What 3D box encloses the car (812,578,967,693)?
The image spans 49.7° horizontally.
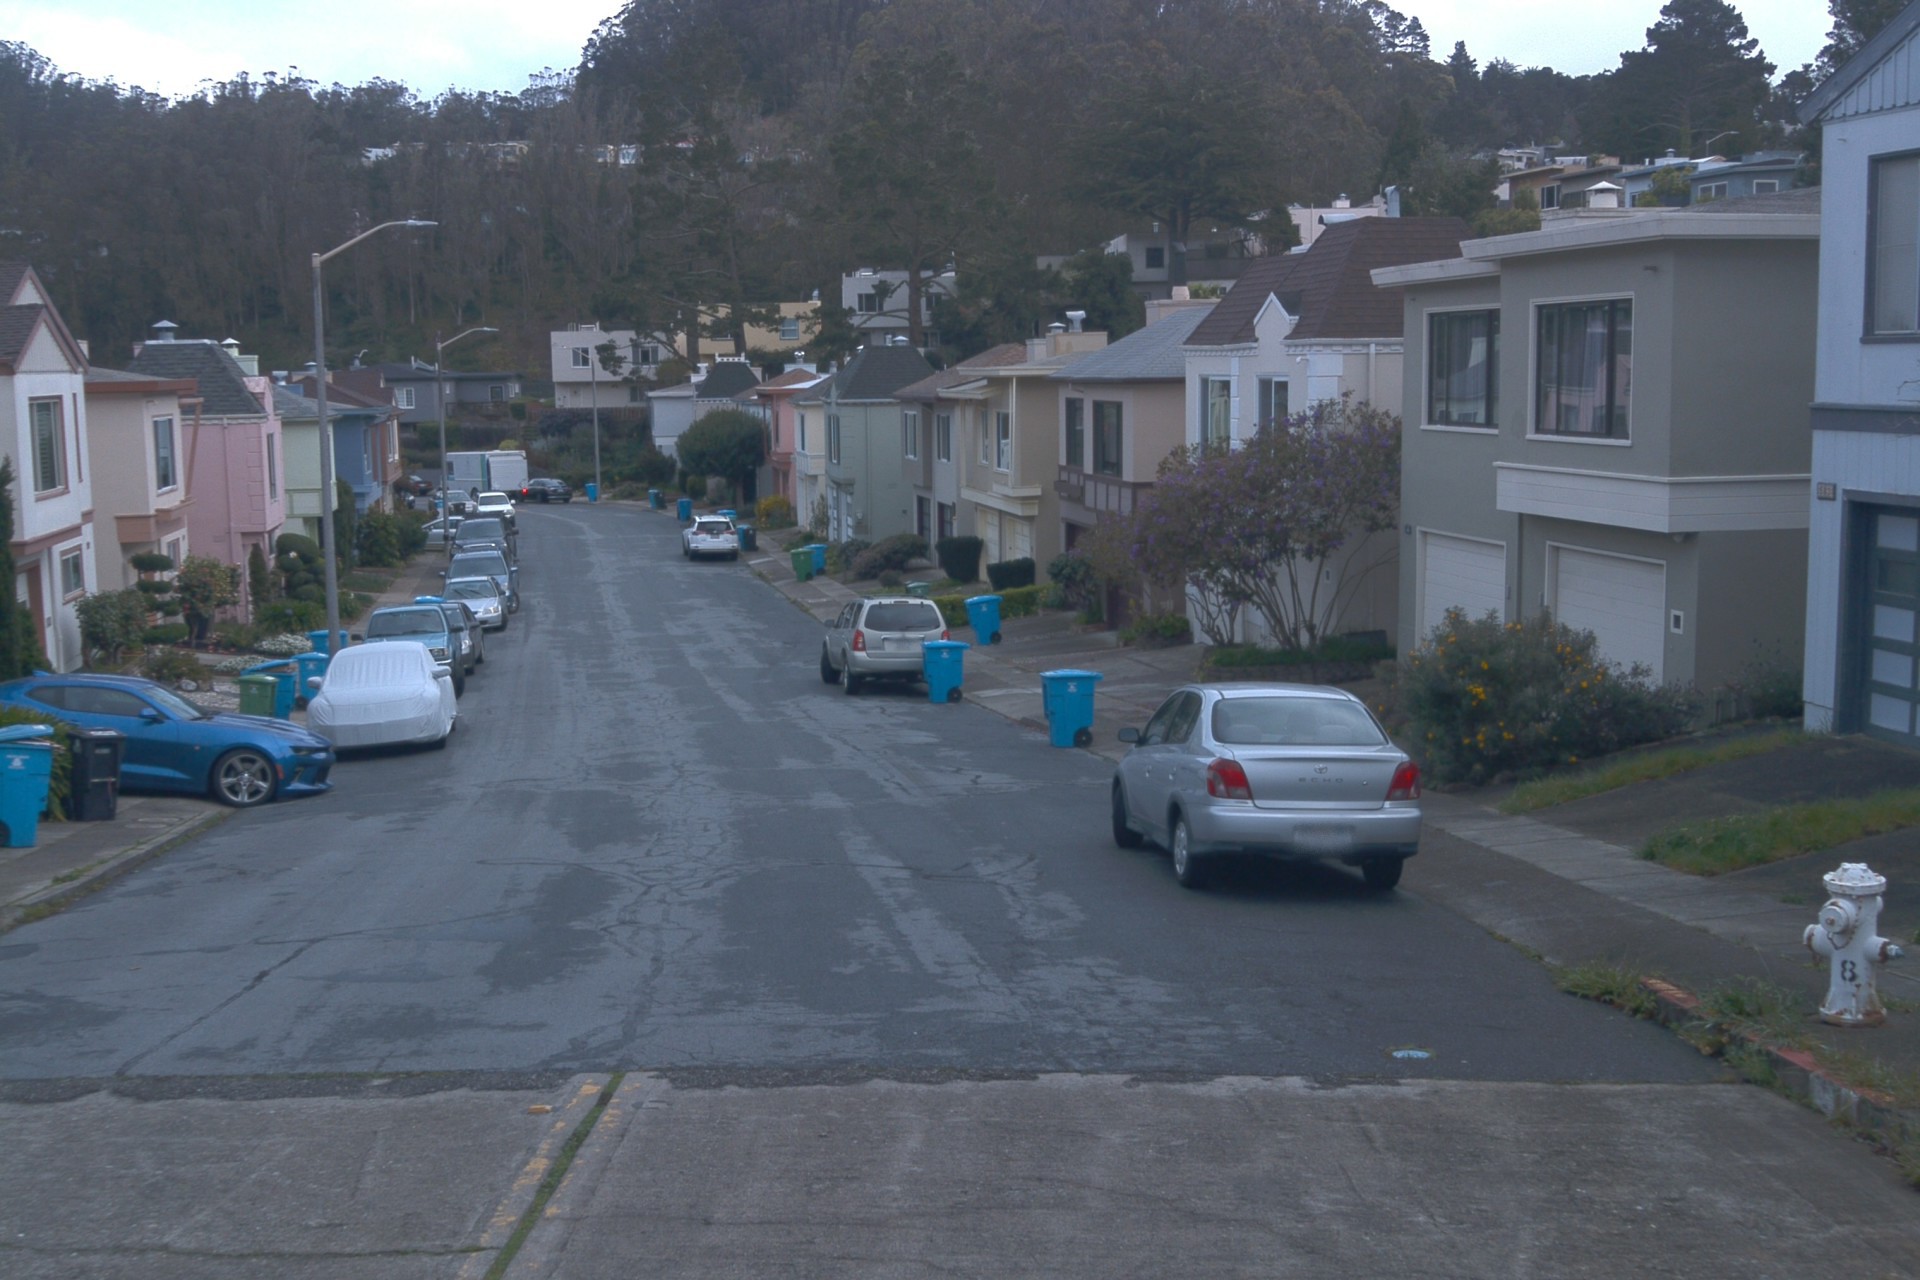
[{"bbox_3d":[-1.335,-0.065,37.189,2.143,1.940,4.474,0,0,-10],"label":"car"}]

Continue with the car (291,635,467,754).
[{"bbox_3d":[-8.313,0.740,30.001,2.131,1.590,4.314,0,0,-11],"label":"car"}]

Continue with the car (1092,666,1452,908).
[{"bbox_3d":[2.291,1.035,16.391,1.851,1.630,4.218,0,0,-5],"label":"car"}]
